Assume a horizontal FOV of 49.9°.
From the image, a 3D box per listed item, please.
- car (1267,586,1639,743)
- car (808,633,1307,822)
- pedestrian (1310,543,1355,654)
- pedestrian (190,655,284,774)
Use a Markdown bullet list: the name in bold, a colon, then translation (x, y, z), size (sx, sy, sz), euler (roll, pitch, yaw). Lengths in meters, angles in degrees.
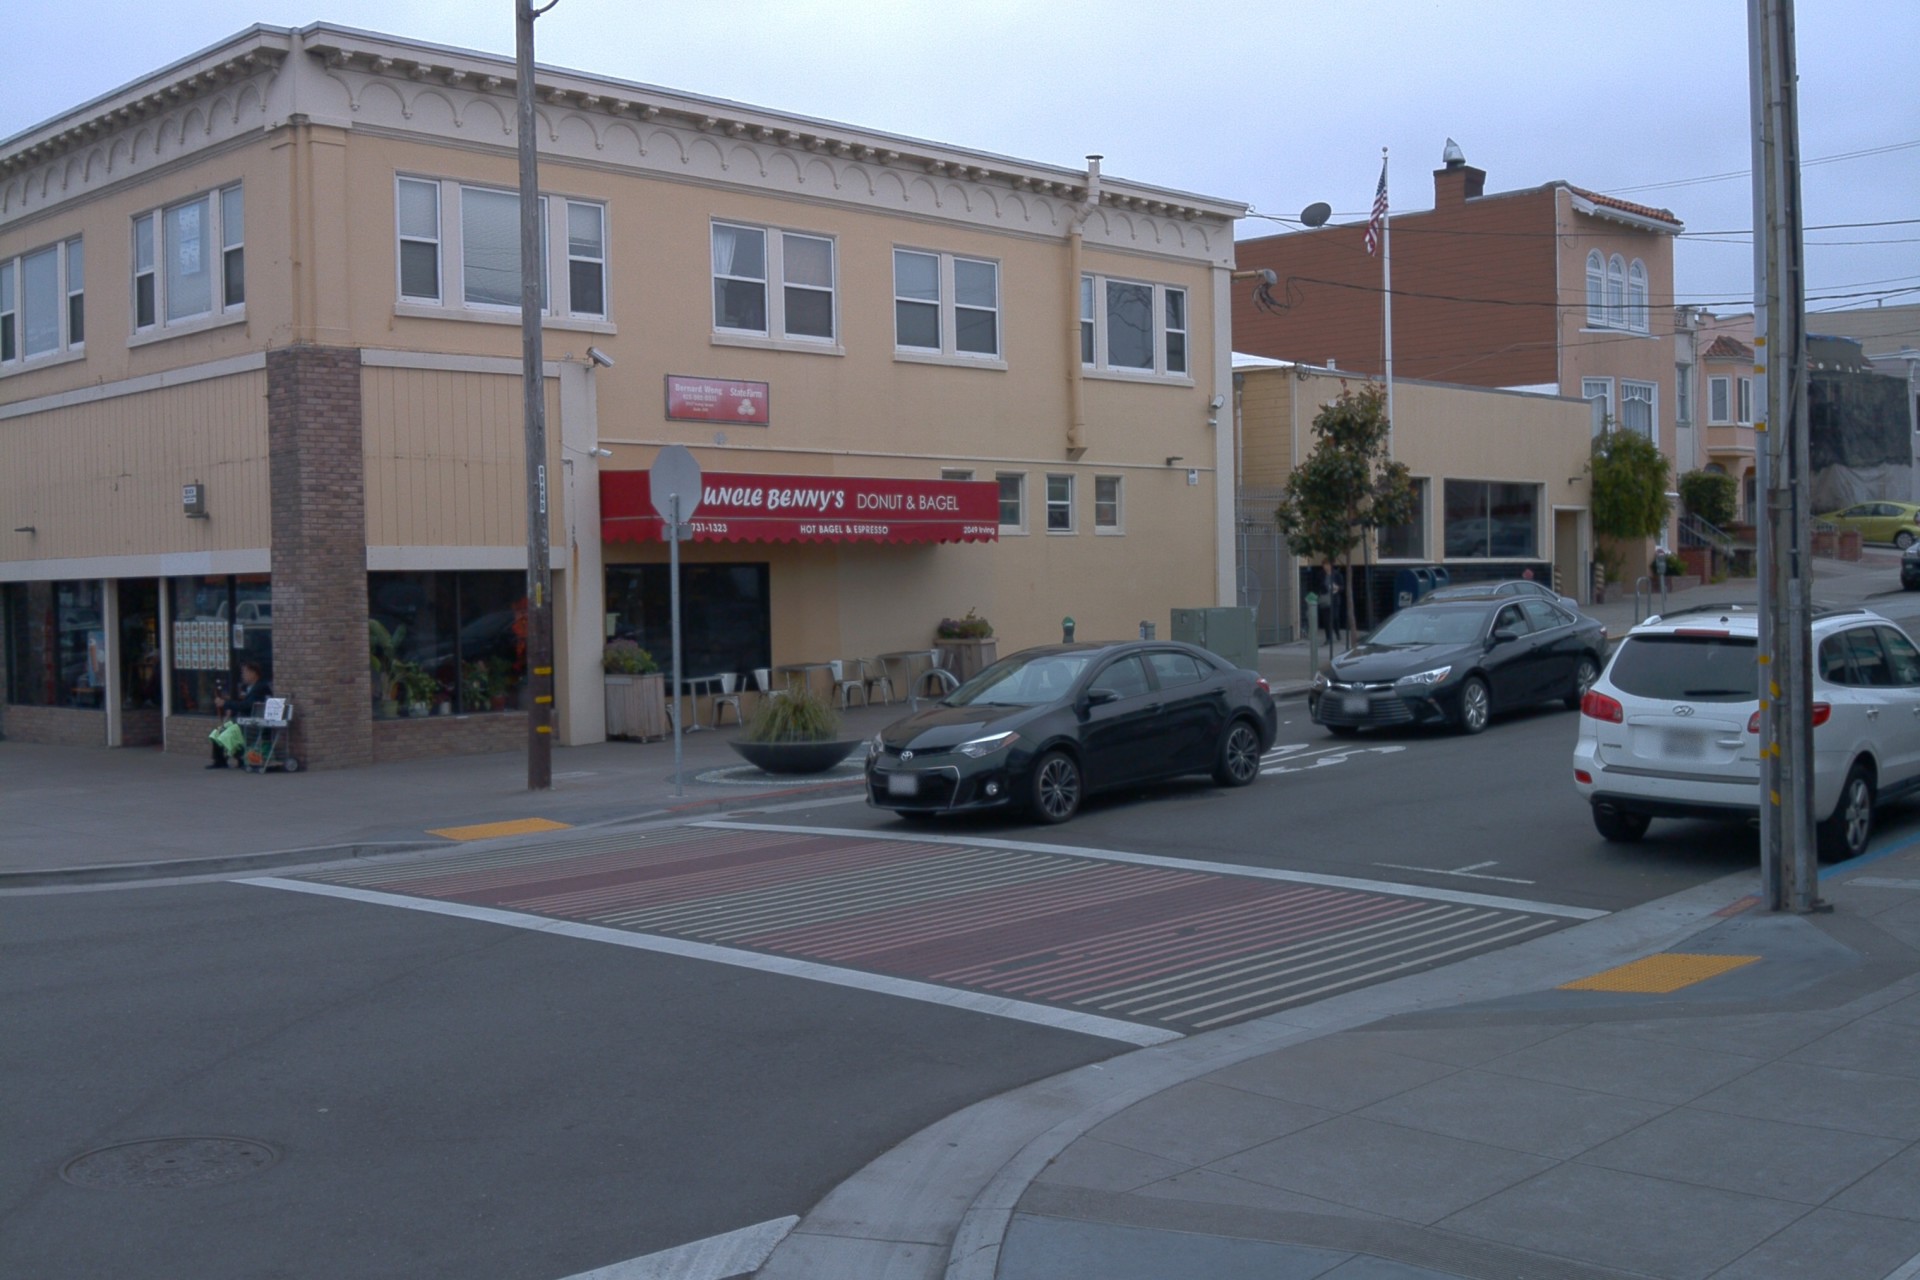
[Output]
- **car**: translation (5.863, 0.233, 24.154), size (2.082, 1.644, 4.864), euler (1, 1, 43)
- **car**: translation (0.995, 0.673, 18.484), size (2.067, 1.440, 4.540), euler (0, 1, 42)
- **pedestrian**: translation (6.821, -0.754, 37.791), size (0.737, 2.018, 0.672), euler (0, 1, 16)
- **pedestrian**: translation (-8.650, 0.872, 24.706), size (0.878, 1.374, 0.735), euler (1, 1, 44)
